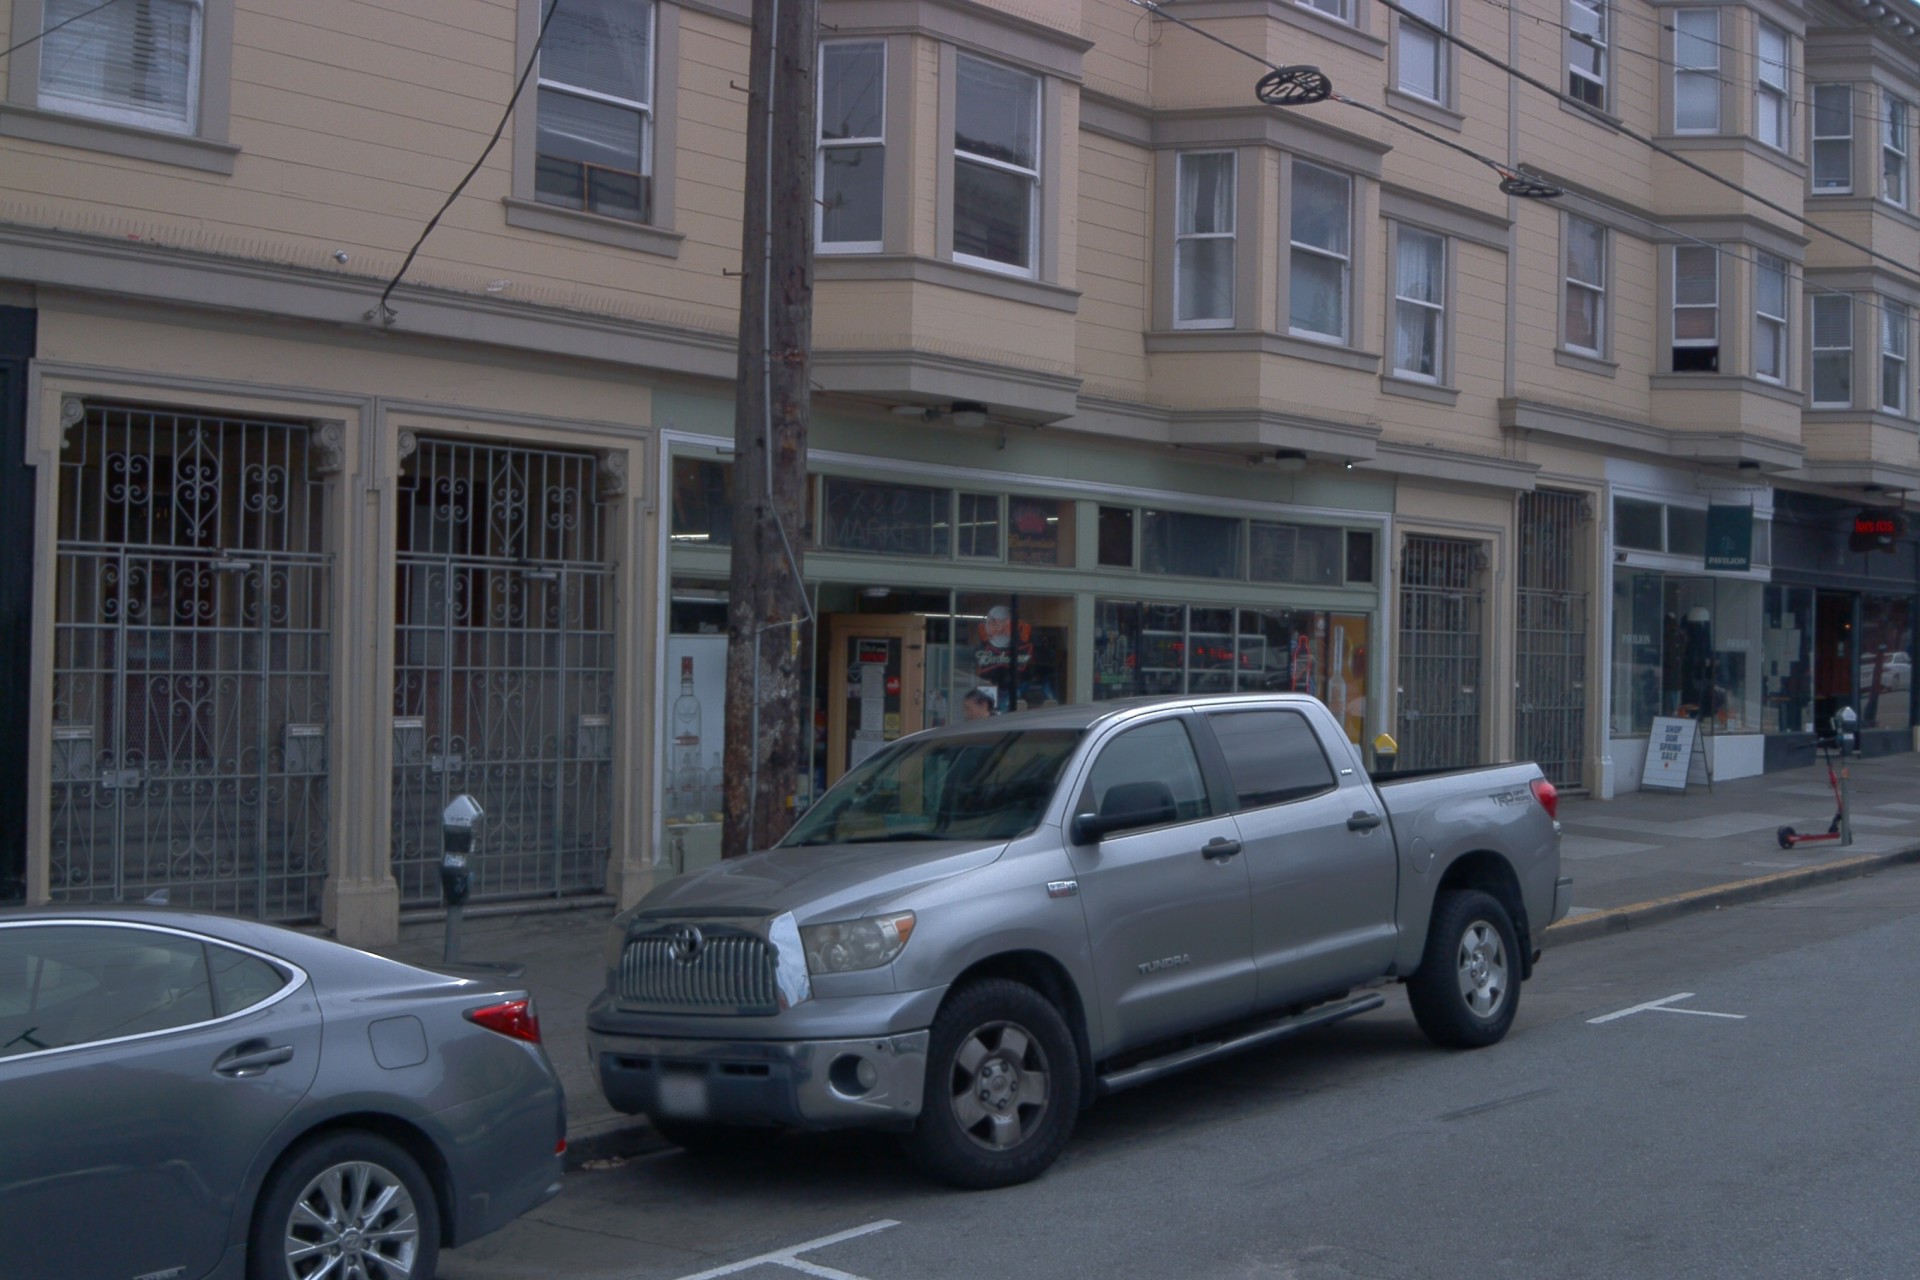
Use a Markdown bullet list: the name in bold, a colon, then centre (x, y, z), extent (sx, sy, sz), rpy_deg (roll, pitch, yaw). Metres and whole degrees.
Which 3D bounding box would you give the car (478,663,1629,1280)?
- **car**: centre (0.832, 1.202, 10.095), extent (2.302, 2.010, 5.900), rpy_deg (1, 1, 44)

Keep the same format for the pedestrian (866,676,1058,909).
- **pedestrian**: centre (0.020, 1.158, 16.215), extent (1.069, 1.693, 1.065), rpy_deg (1, 1, 42)
